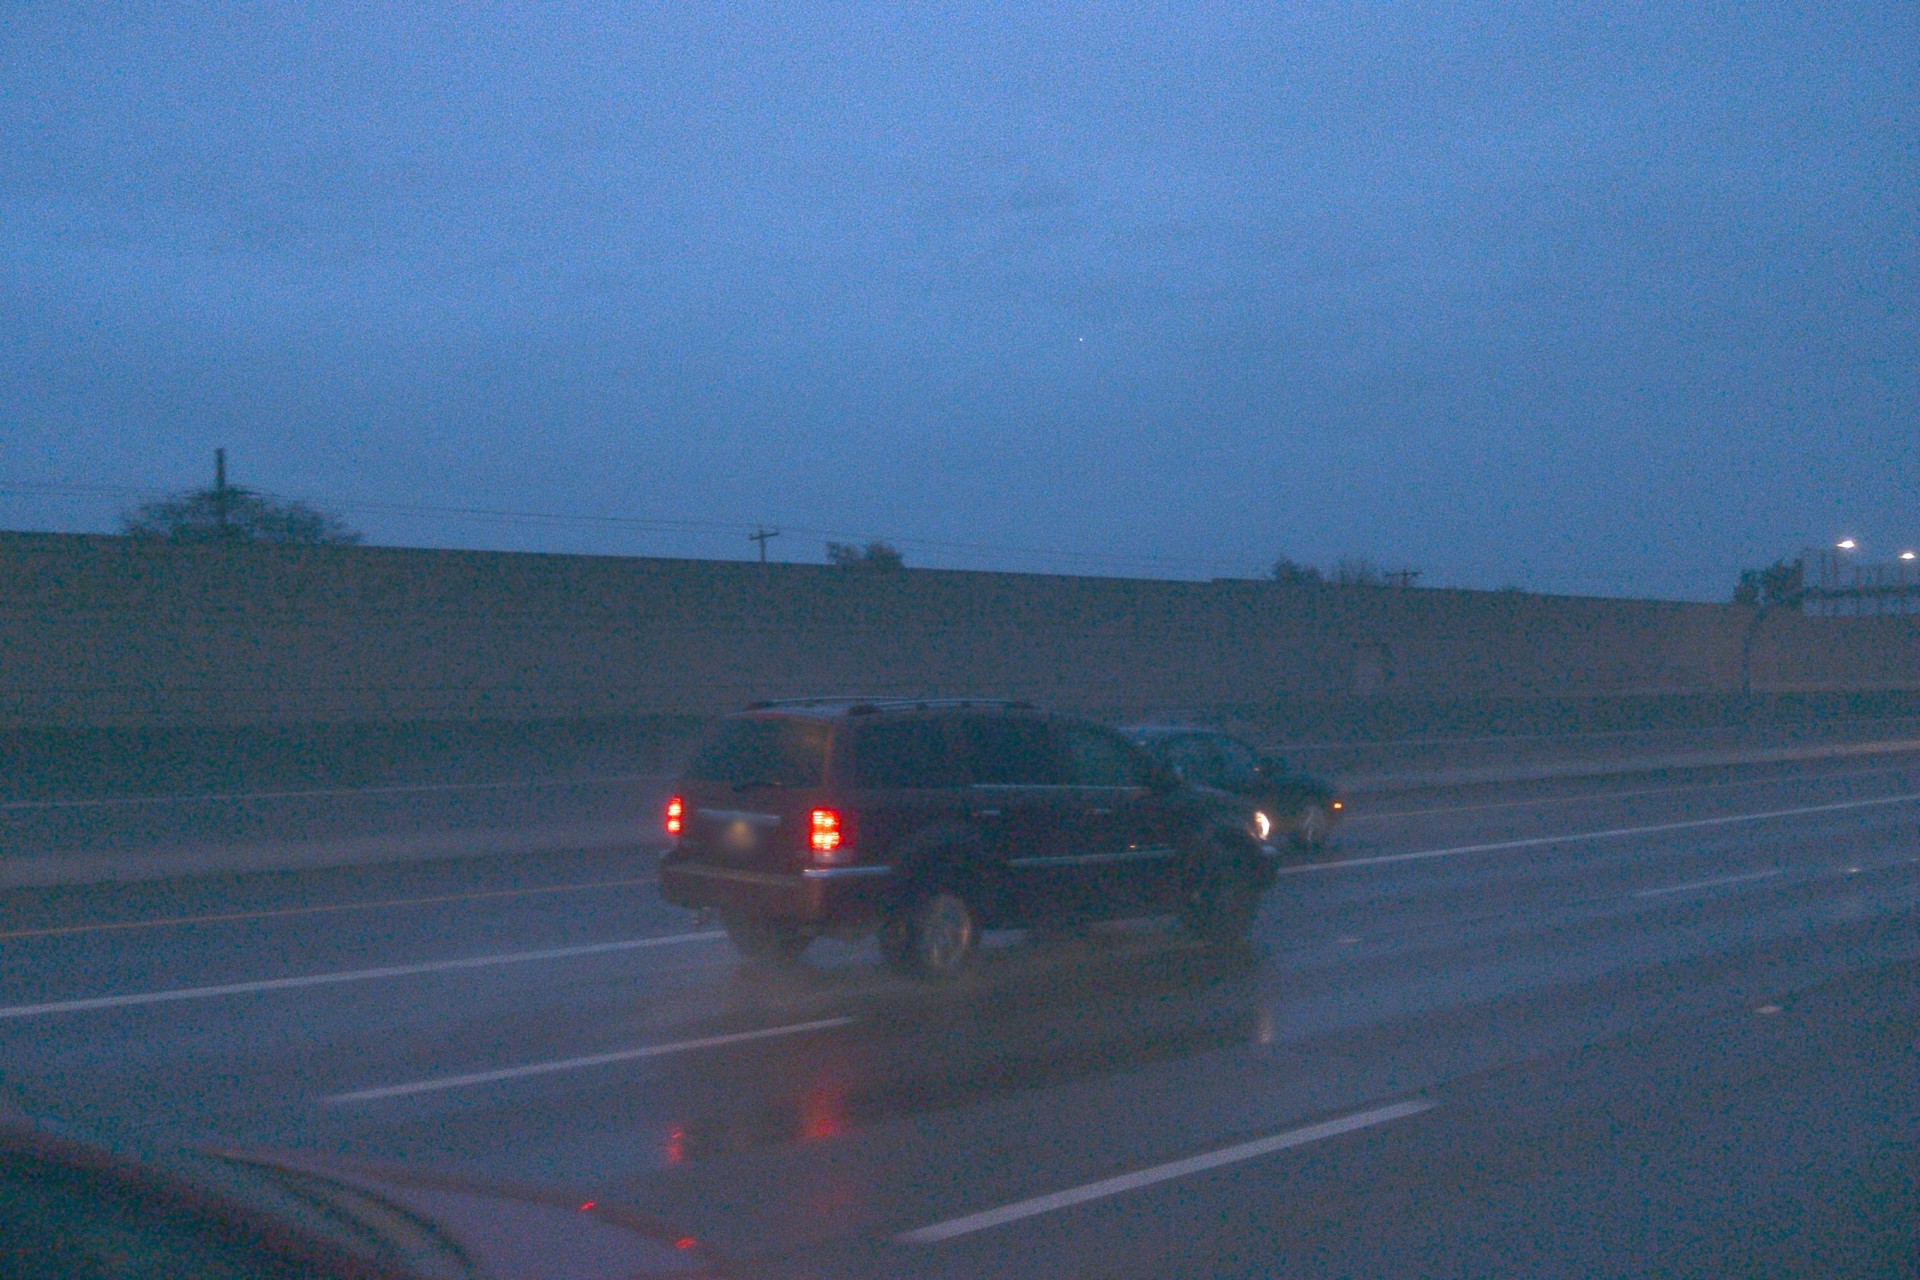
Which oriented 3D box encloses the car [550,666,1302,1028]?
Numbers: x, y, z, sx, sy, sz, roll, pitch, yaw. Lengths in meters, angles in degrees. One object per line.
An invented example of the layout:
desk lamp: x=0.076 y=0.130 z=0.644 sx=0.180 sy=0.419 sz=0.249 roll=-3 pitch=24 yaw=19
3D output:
car: x=-0.056 y=1.264 z=14.931 sx=5.240 sy=2.090 sz=2.237 roll=1 pitch=0 yaw=-44

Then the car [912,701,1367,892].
car: x=2.085 y=1.597 z=22.883 sx=5.273 sy=1.750 sz=1.986 roll=1 pitch=0 yaw=-45
